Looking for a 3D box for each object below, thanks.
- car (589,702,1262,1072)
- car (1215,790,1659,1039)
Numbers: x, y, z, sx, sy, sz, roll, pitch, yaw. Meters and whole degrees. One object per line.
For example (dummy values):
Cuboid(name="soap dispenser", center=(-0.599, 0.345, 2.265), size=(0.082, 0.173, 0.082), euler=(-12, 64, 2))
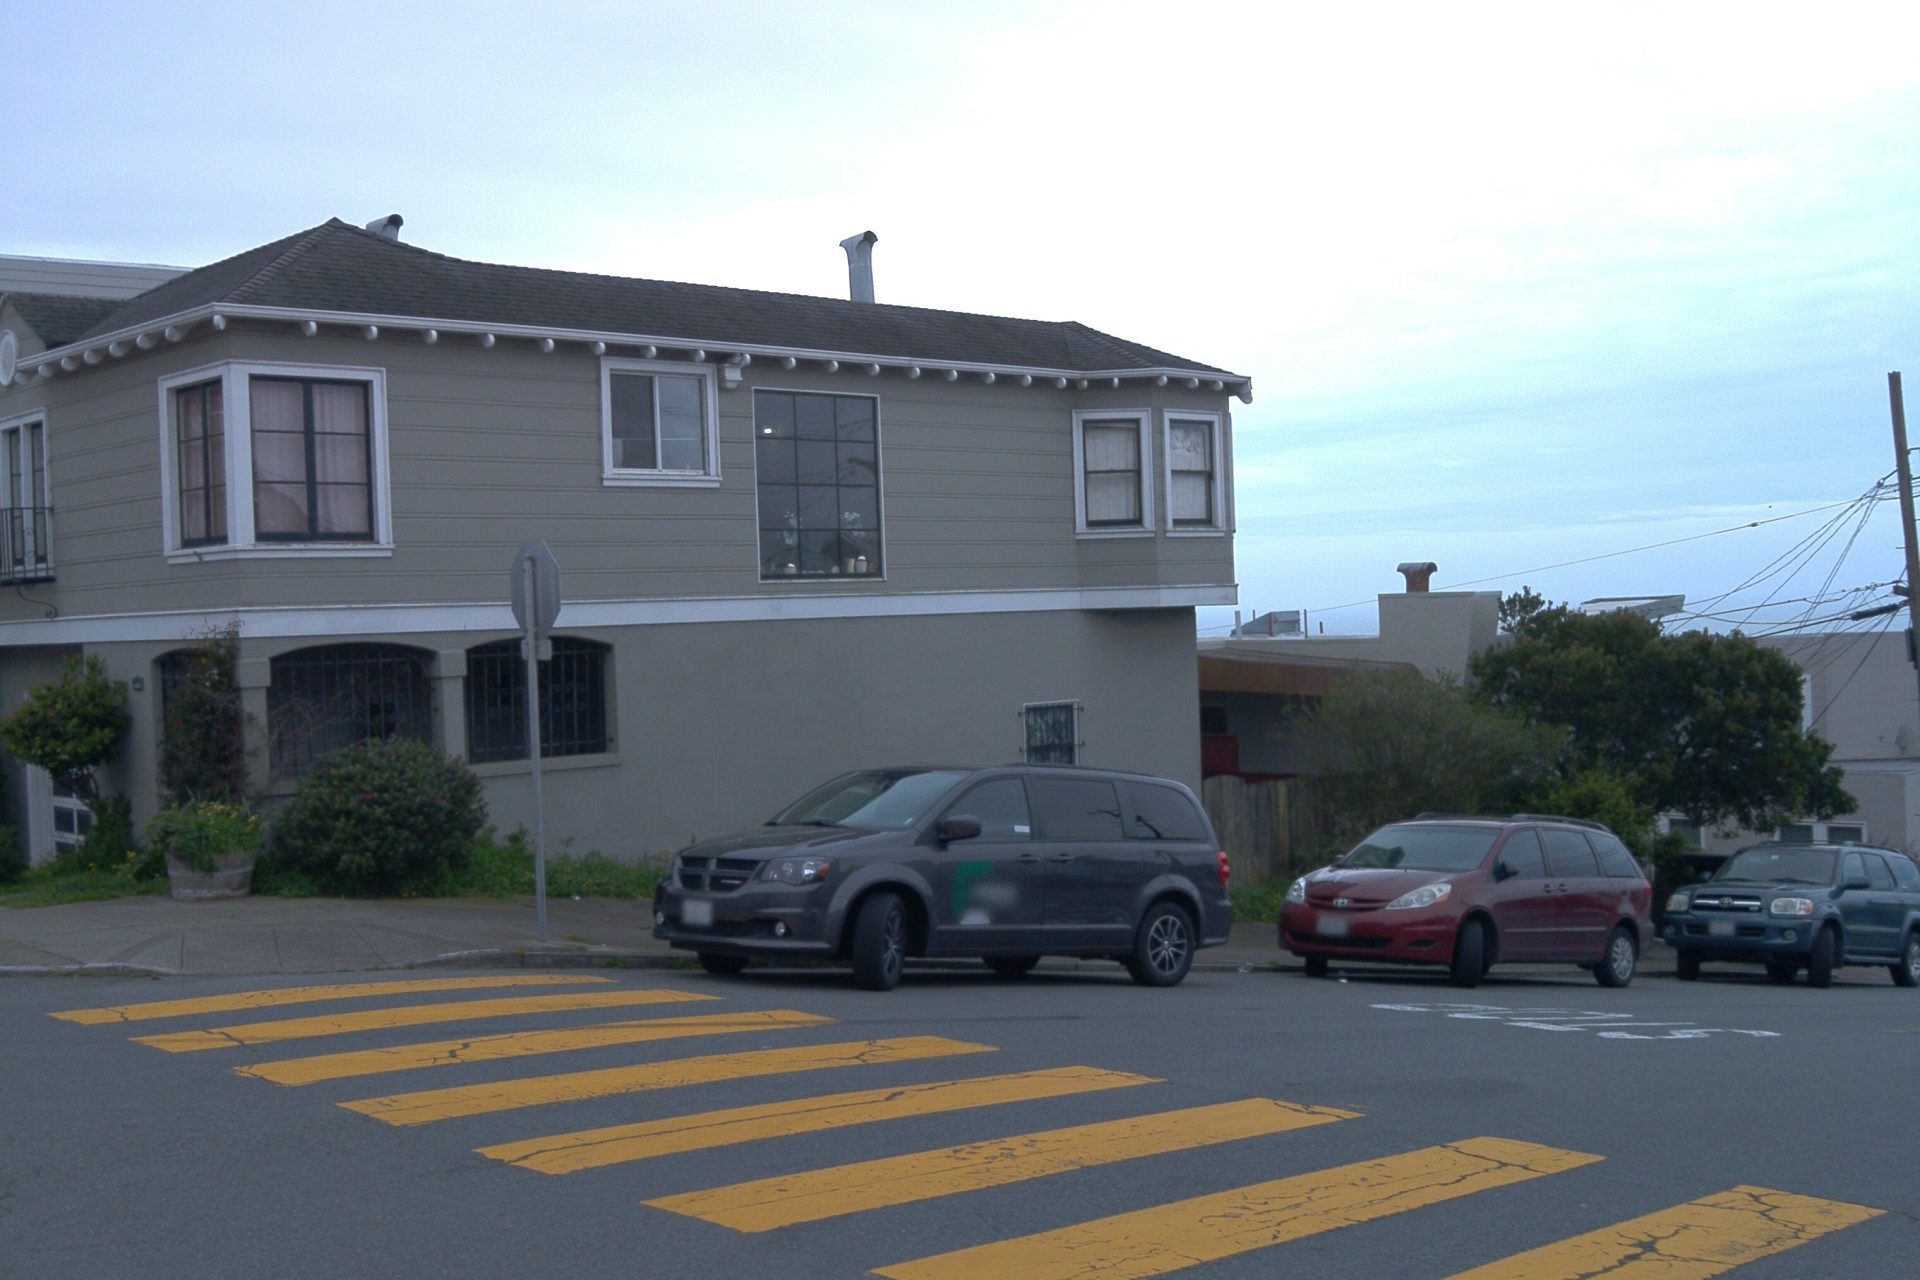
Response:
Cuboid(name="car", center=(-0.119, 1.734, 16.414), size=(5.158, 2.320, 2.337), euler=(0, 0, -44))
Cuboid(name="car", center=(5.134, 2.733, 21.692), size=(2.318, 1.940, 5.031), euler=(0, 0, 44))
